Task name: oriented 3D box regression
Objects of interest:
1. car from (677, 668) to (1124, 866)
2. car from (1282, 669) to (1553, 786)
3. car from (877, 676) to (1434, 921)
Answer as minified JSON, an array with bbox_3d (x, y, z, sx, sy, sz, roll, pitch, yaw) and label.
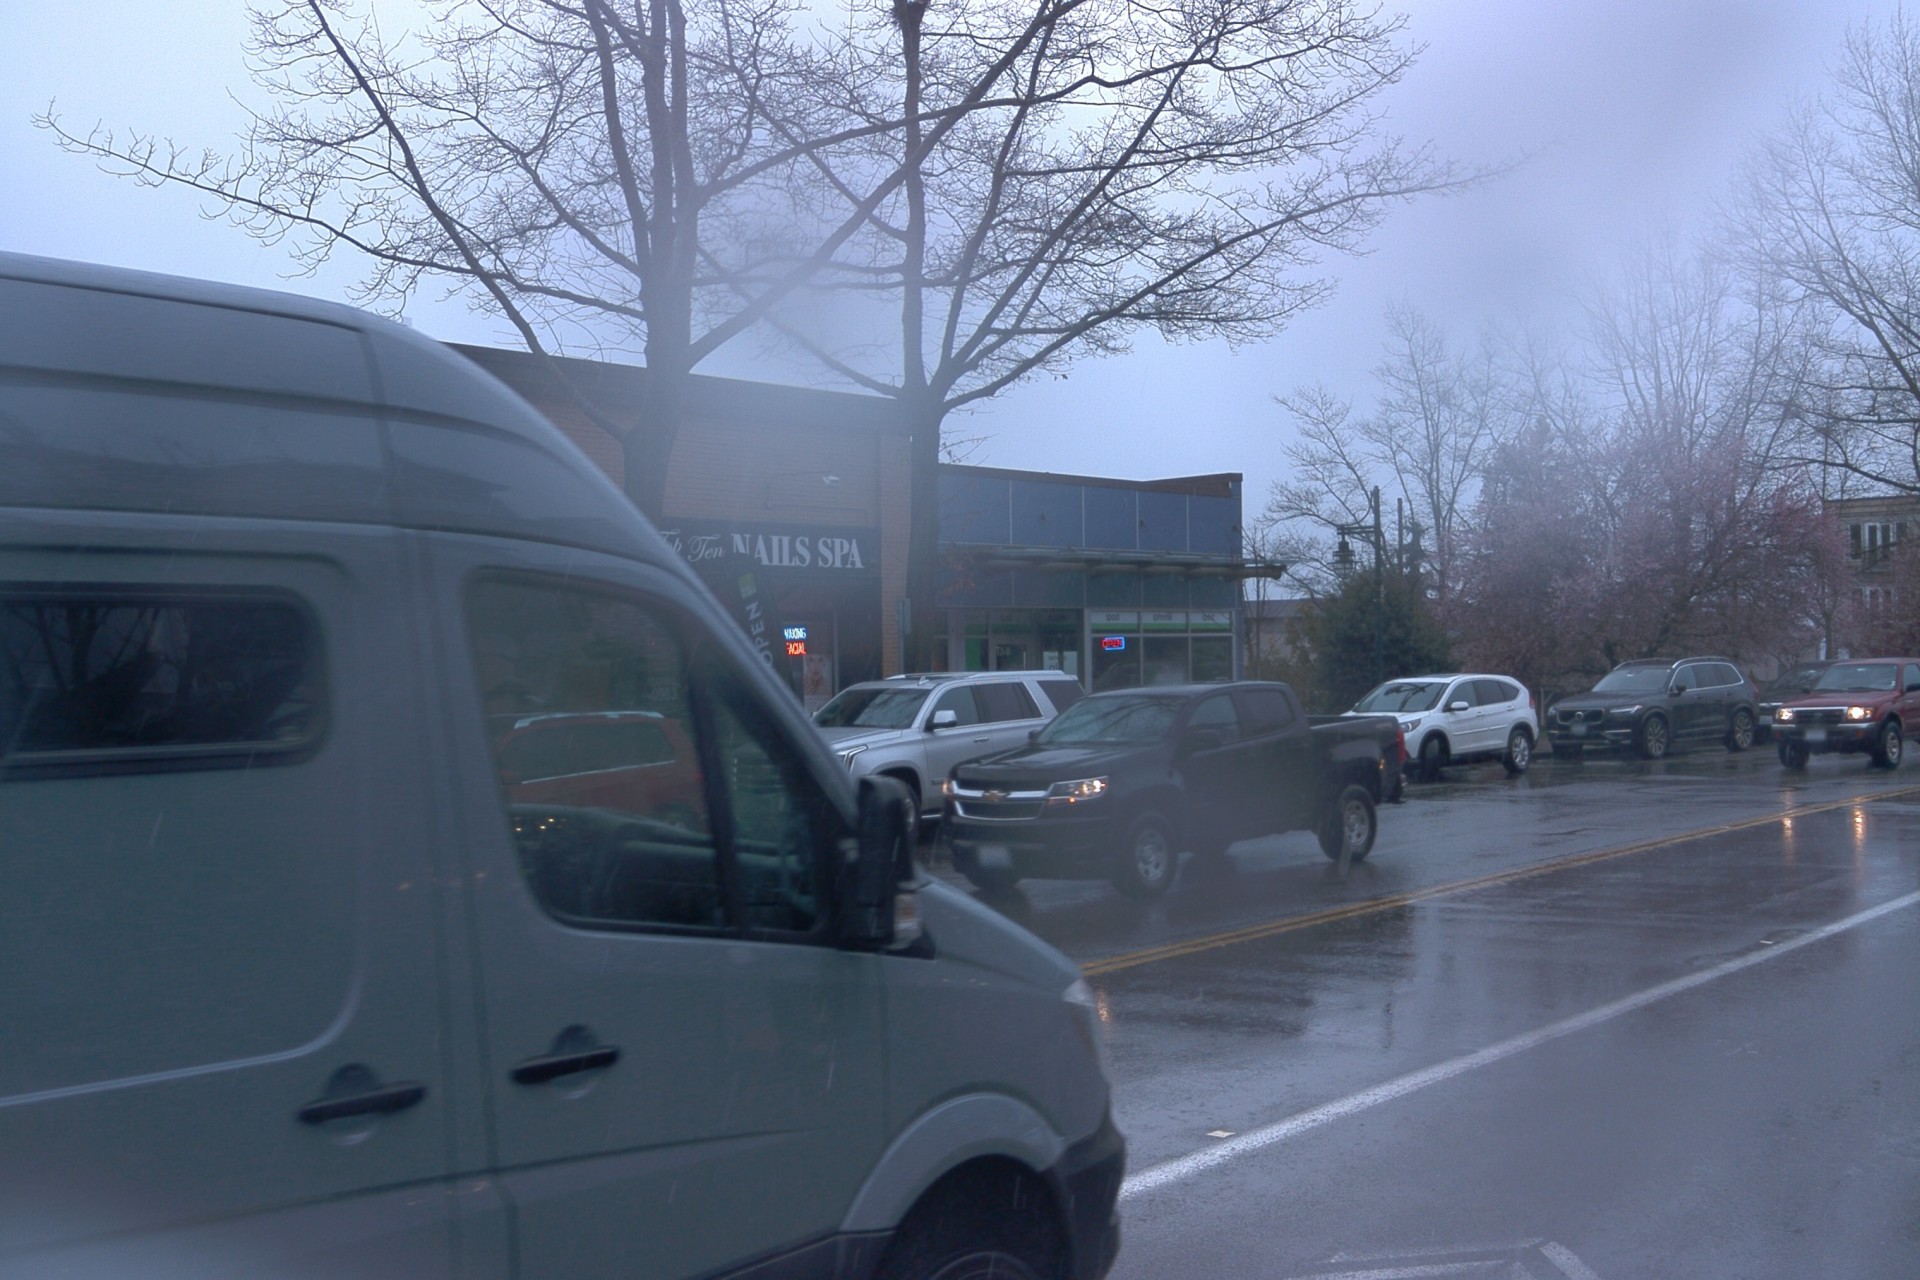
[{"bbox_3d":[-0.559,1.341,23.966,2.331,1.890,5.194,1,1,40],"label":"car"},{"bbox_3d":[7.348,1.331,32.907,2.181,1.610,4.481,1,1,44],"label":"car"},{"bbox_3d":[1.976,1.288,19.000,2.251,1.750,5.557,1,1,42],"label":"car"}]
